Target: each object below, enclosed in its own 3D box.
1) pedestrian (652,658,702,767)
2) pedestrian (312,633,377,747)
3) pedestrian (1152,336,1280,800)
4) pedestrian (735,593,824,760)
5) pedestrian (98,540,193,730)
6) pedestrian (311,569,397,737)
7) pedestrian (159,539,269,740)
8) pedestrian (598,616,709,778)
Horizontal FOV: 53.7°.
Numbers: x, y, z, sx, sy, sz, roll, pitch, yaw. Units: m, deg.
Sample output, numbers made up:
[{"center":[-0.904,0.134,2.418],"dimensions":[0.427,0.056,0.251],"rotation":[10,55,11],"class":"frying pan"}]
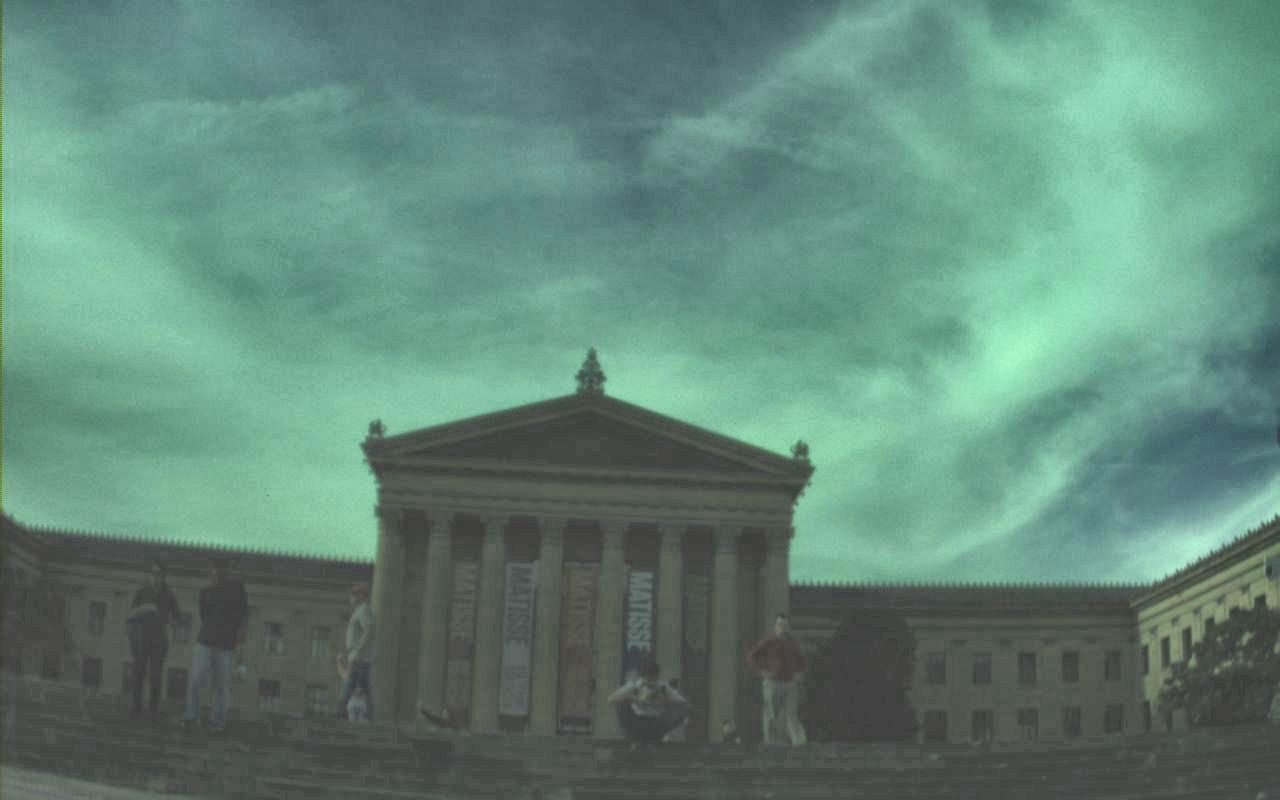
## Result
[{"center":[0.629,5.398,21.125],"dimensions":[0.712,1.772,0.735],"rotation":[0,0,13],"class":"pedestrian"},{"center":[-5.001,4.908,20.202],"dimensions":[0.748,1.773,0.720],"rotation":[1,0,37],"class":"pedestrian"},{"center":[2.535,0.691,4.355],"dimensions":[0.761,1.824,0.705],"rotation":[0,0,-42],"class":"pedestrian"},{"center":[1.635,3.283,14.586],"dimensions":[0.806,1.855,0.821],"rotation":[0,0,-11],"class":"pedestrian"},{"center":[-4.849,2.323,11.280],"dimensions":[0.797,1.750,0.785],"rotation":[0,0,-16],"class":"pedestrian"},{"center":[-3.391,3.013,14.338],"dimensions":[0.825,1.874,0.789],"rotation":[0,0,-2],"class":"pedestrian"},{"center":[-4.107,2.313,11.307],"dimensions":[0.774,1.805,0.766],"rotation":[0,0,3],"class":"pedestrian"},{"center":[0.121,2.872,11.923],"dimensions":[0.804,1.394,0.706],"rotation":[1,0,42],"class":"pedestrian"}]
